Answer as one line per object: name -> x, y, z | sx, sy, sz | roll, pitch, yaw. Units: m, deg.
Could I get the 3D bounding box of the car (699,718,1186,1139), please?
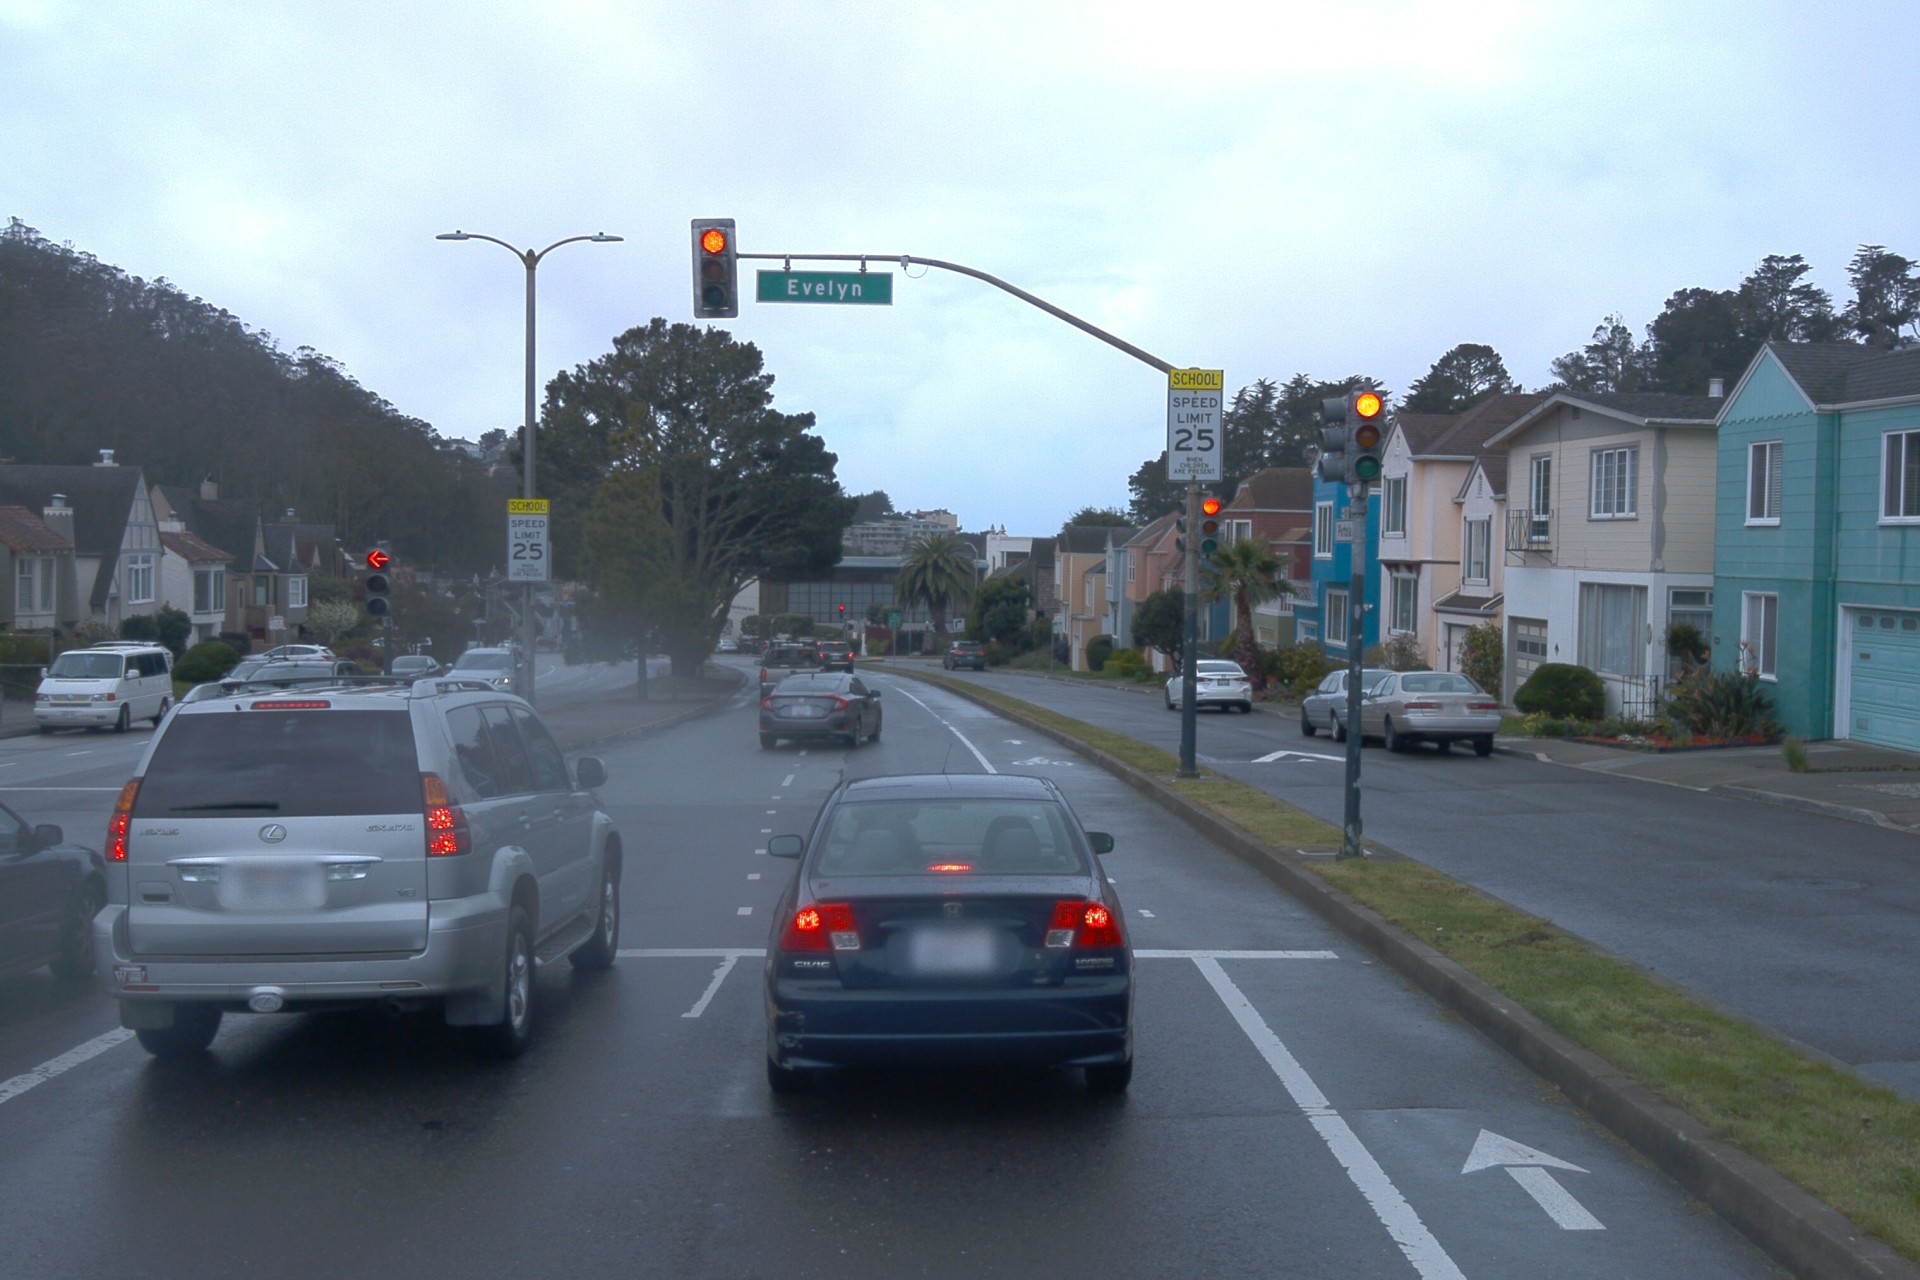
car -> -0.113, 1.262, 10.560 | 2.004, 1.570, 4.164 | 0, 0, -1

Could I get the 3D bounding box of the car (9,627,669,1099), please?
car -> -3.059, 0.977, 11.416 | 2.249, 2.070, 4.734 | 0, 0, -1

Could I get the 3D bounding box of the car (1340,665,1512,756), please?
car -> 8.081, 1.189, 36.133 | 1.755, 1.440, 4.469 | 0, 0, -4
